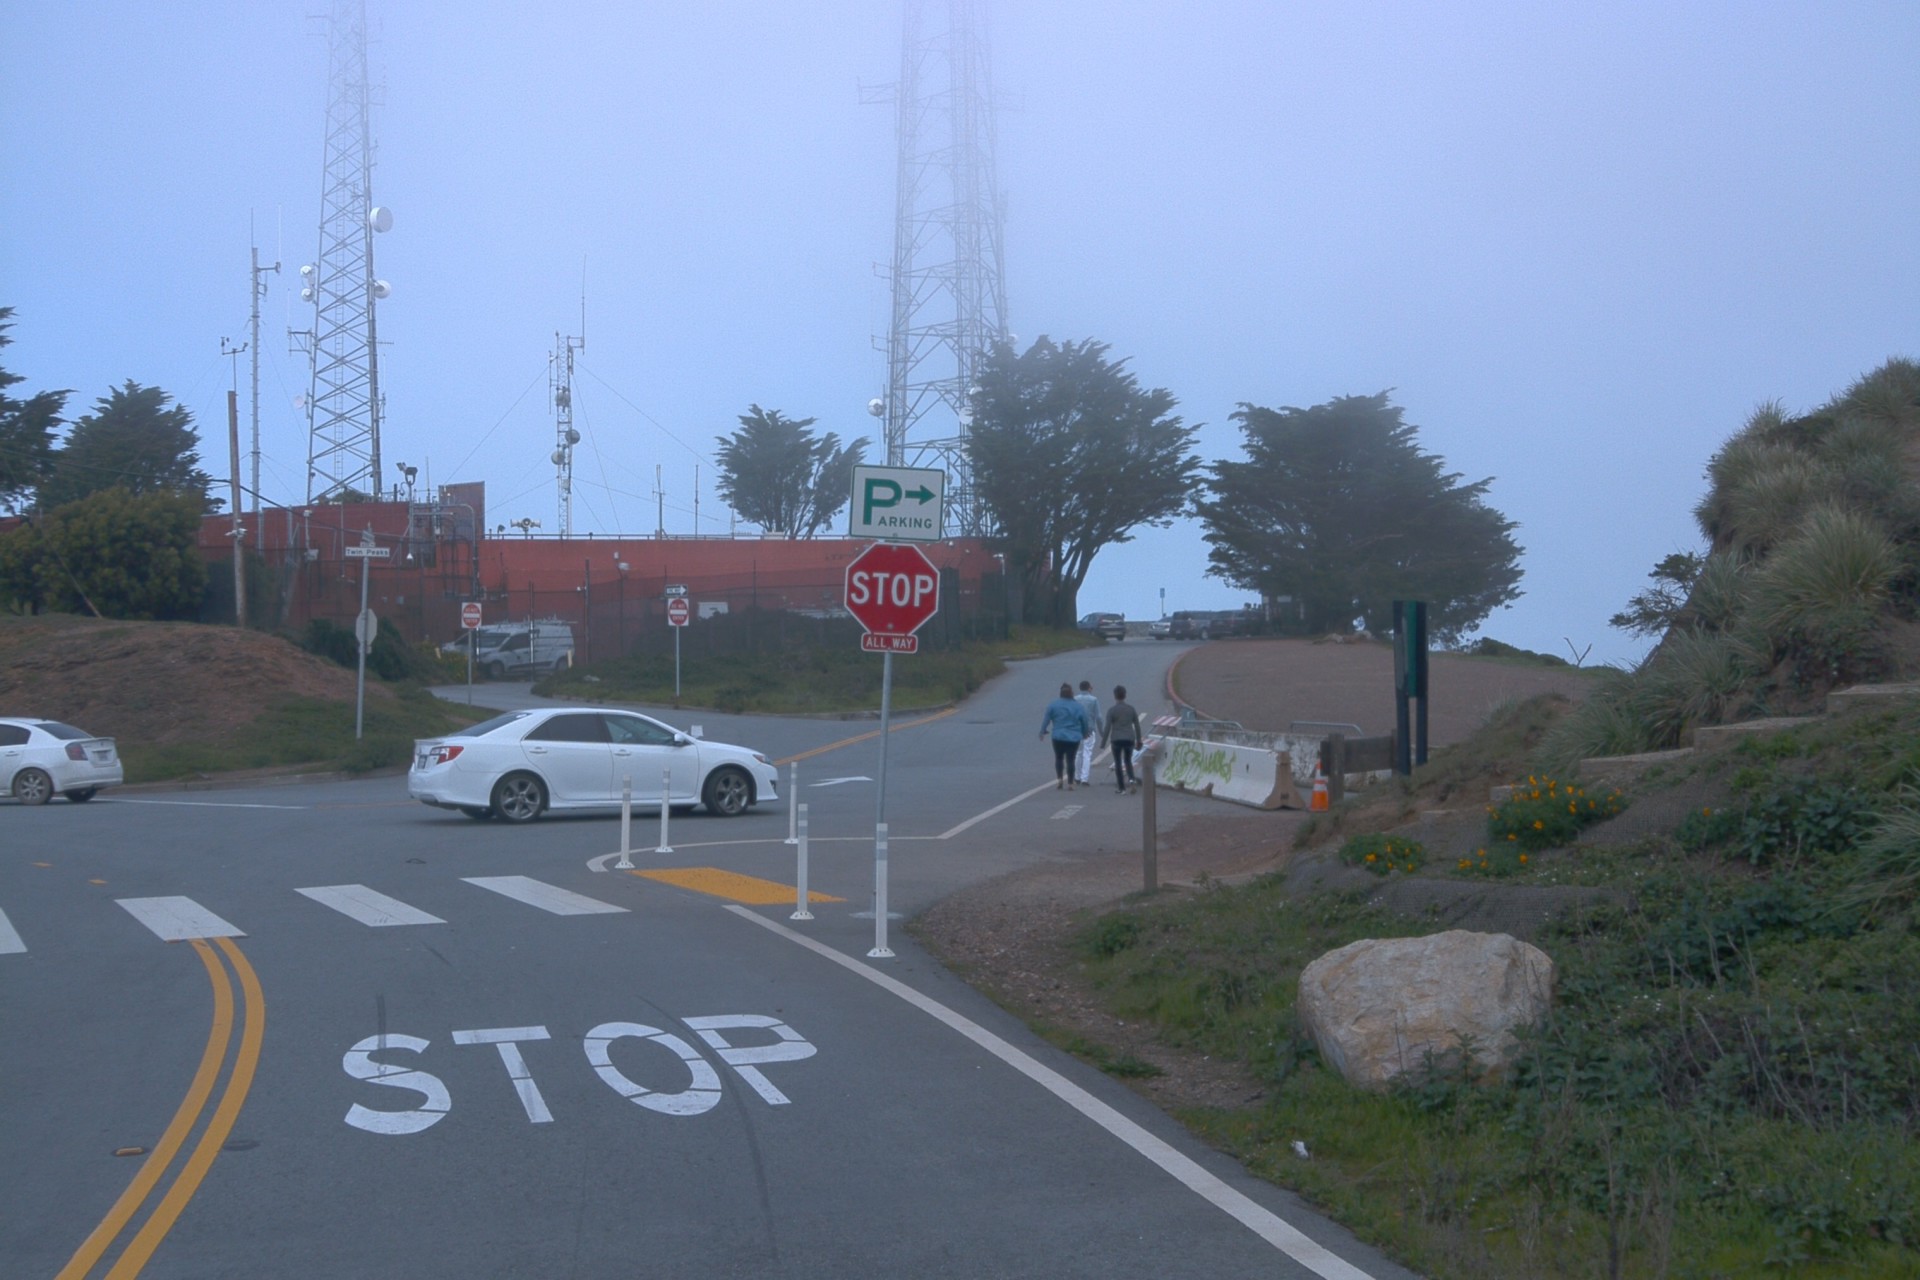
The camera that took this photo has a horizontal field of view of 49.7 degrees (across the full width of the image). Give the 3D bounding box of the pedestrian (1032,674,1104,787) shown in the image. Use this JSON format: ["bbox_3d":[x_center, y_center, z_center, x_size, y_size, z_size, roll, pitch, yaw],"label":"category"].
[{"bbox_3d":[1.704,1.401,32.513,1.111,1.730,1.064,0,0,5],"label":"pedestrian"}]

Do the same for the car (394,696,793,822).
[{"bbox_3d":[-4.781,1.491,27.080,4.693,1.440,2.175,0,0,-28],"label":"car"}]

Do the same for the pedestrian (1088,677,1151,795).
[{"bbox_3d":[2.395,1.431,31.171,0.732,1.720,1.096,0,0,-8],"label":"pedestrian"}]

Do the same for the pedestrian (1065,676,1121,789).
[{"bbox_3d":[2.158,1.481,33.433,0.817,1.790,0.935,0,0,9],"label":"pedestrian"}]
